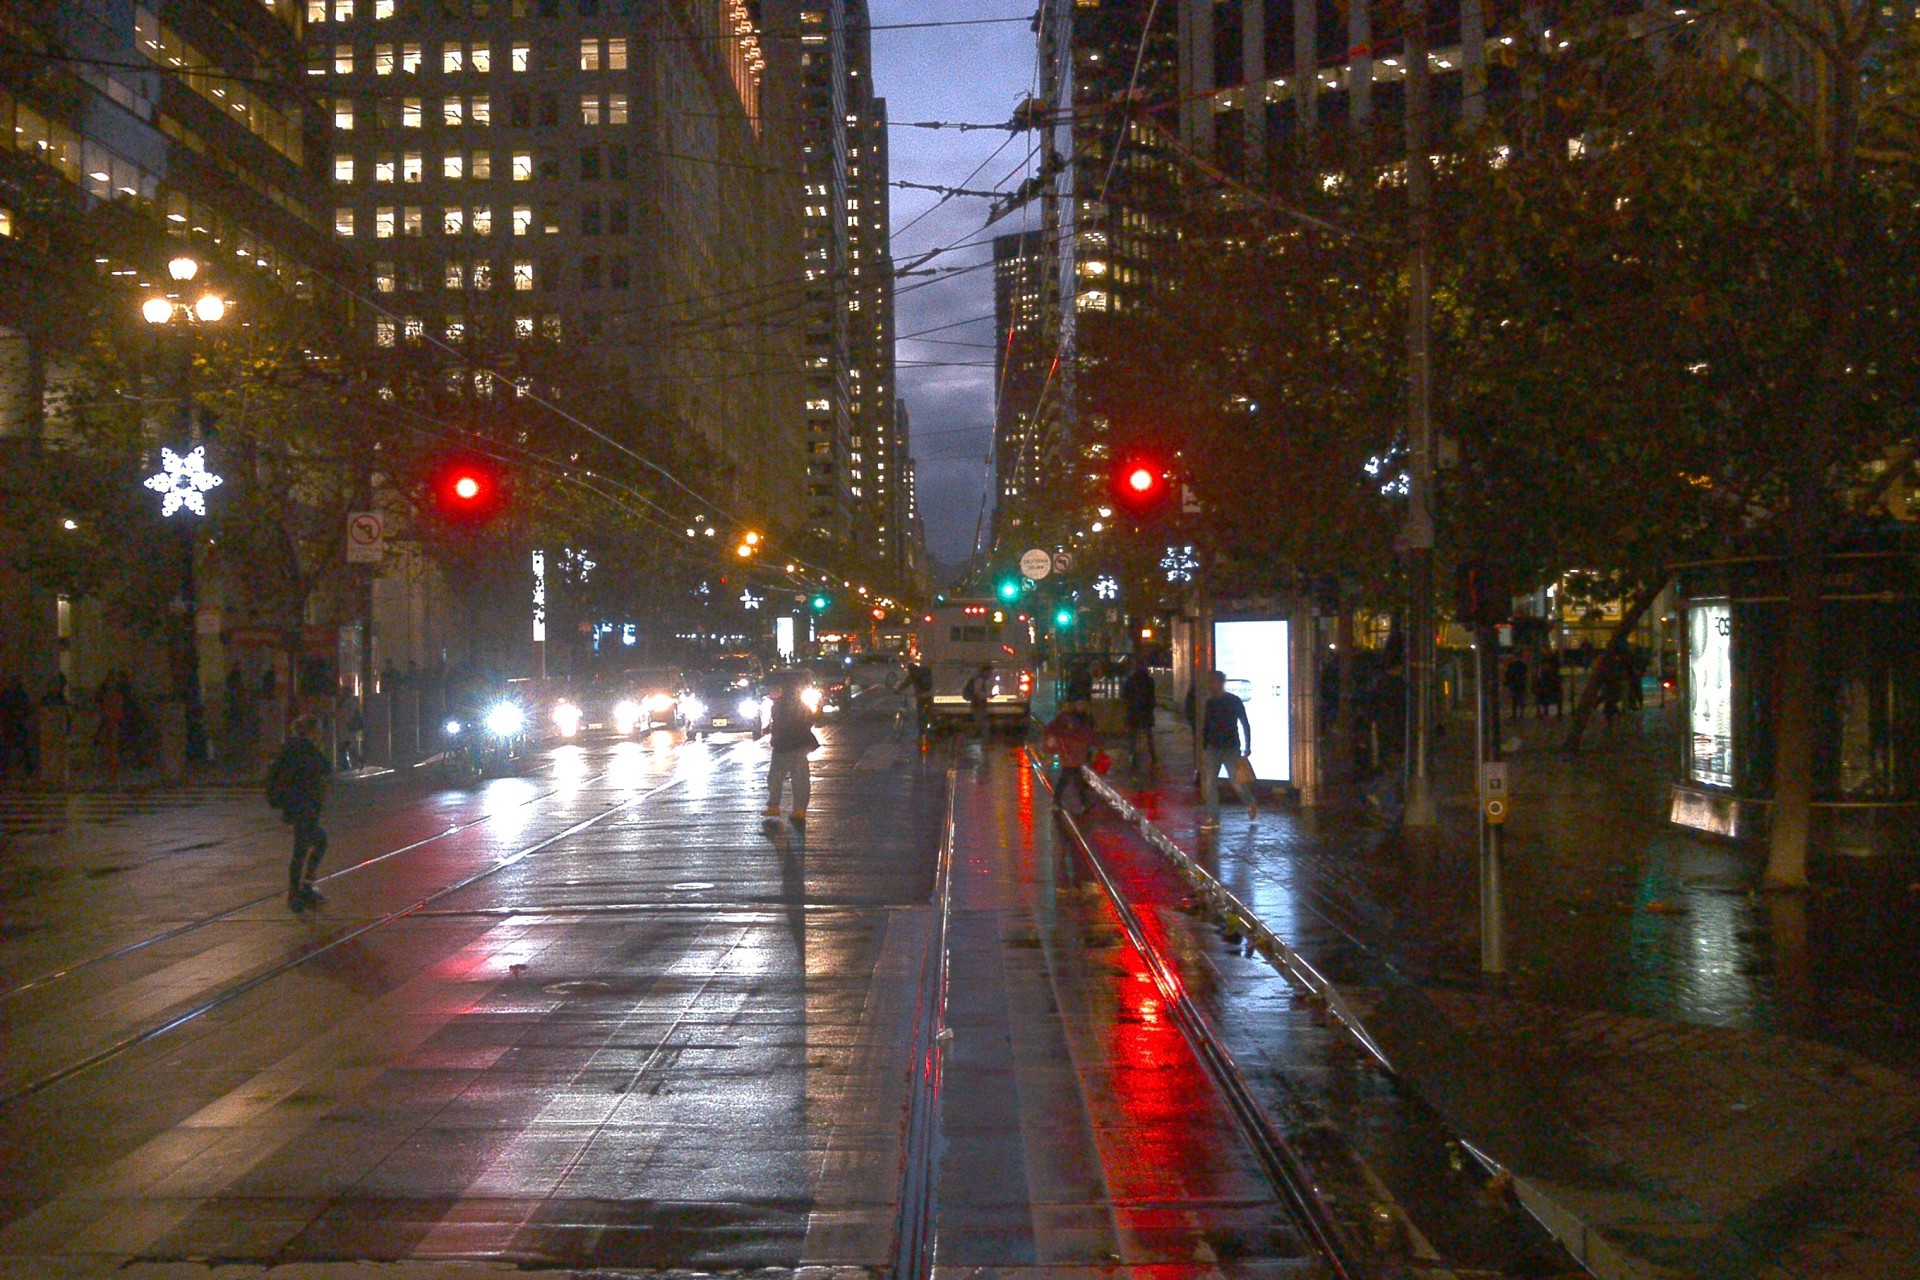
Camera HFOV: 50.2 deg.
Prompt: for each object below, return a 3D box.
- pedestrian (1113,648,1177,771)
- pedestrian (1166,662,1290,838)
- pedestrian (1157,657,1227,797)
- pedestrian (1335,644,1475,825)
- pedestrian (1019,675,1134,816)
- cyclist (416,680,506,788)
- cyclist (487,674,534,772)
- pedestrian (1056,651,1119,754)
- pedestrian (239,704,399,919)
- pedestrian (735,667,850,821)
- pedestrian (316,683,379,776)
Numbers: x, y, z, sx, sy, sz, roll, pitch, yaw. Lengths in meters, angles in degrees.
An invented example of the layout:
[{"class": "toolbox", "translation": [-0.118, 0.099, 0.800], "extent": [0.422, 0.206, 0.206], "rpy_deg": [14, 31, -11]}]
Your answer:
[{"class": "pedestrian", "translation": [2.930, 1.080, 32.314], "extent": [0.780, 1.890, 1.220], "rpy_deg": [0, 0, 16]}, {"class": "pedestrian", "translation": [2.863, 1.141, 21.823], "extent": [0.870, 1.800, 1.149], "rpy_deg": [0, 0, 35]}, {"class": "pedestrian", "translation": [3.112, 1.140, 27.406], "extent": [0.808, 1.830, 1.108], "rpy_deg": [0, 0, 13]}, {"class": "pedestrian", "translation": [4.918, 1.012, 22.632], "extent": [1.203, 1.940, 0.925], "rpy_deg": [0, 0, -32]}, {"class": "pedestrian", "translation": [1.459, 1.299, 25.715], "extent": [1.006, 1.710, 1.062], "rpy_deg": [0, 0, -33]}, {"class": "cyclist", "translation": [-8.080, 1.498, 33.215], "extent": [0.762, 1.680, 1.783], "rpy_deg": [0, 0, 10]}, {"class": "cyclist", "translation": [-7.972, 1.452, 36.356], "extent": [0.731, 1.680, 1.744], "rpy_deg": [0, 0, -9]}, {"class": "pedestrian", "translation": [2.368, 1.148, 37.952], "extent": [1.146, 1.890, 0.792], "rpy_deg": [0, 0, 4]}, {"class": "pedestrian", "translation": [-5.349, 1.390, 17.057], "extent": [1.052, 1.670, 1.131], "rpy_deg": [0, 0, -30]}, {"class": "pedestrian", "translation": [-2.023, 1.225, 24.671], "extent": [0.852, 1.780, 1.177], "rpy_deg": [0, 0, -41]}, {"class": "pedestrian", "translation": [-10.907, 1.584, 36.494], "extent": [1.000, 1.630, 0.740], "rpy_deg": [0, 0, -9]}]
